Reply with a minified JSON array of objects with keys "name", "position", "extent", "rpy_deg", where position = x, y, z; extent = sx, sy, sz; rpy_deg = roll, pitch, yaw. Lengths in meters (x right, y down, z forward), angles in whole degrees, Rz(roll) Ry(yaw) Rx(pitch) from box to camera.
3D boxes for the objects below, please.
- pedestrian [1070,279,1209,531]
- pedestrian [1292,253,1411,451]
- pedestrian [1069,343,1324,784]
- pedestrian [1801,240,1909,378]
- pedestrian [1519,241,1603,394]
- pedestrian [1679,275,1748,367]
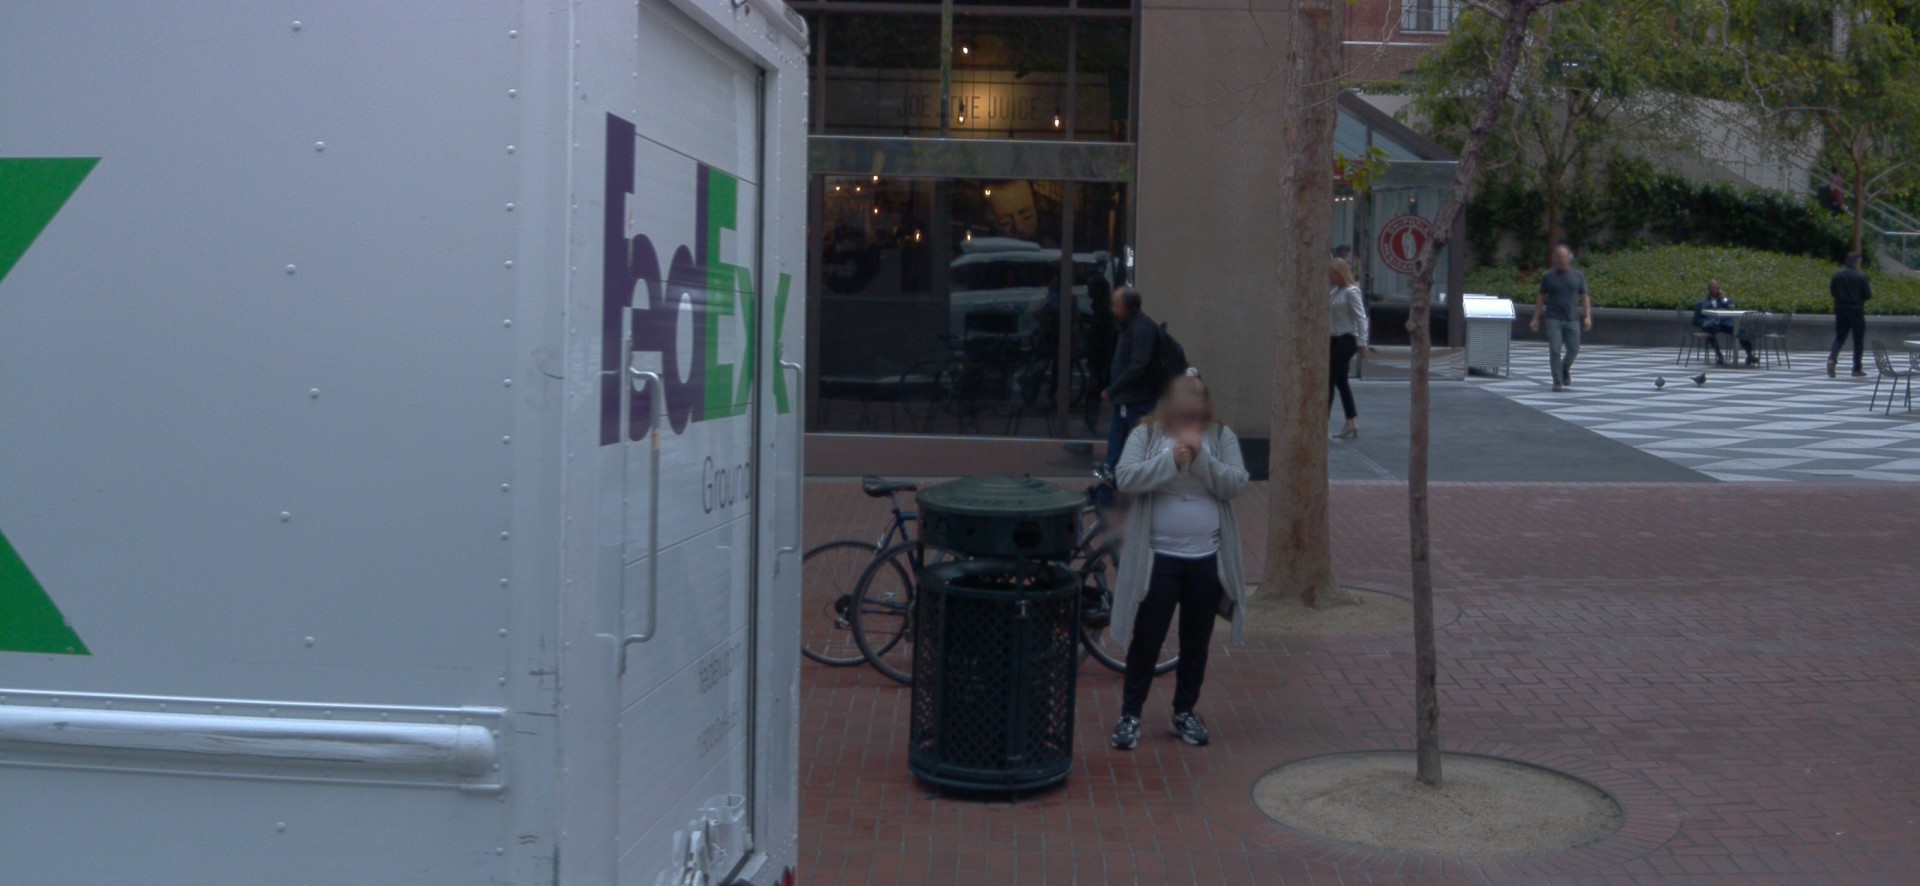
[{"name":"pedestrian","position":[1.293,-0.303,14.992],"extent":[0.894,1.761,0.753],"rpy_deg":[0,1,-5]},{"name":"pedestrian","position":[3.647,-0.871,19.316],"extent":[0.983,1.801,0.890],"rpy_deg":[0,1,3]},{"name":"pedestrian","position":[0.974,0.454,8.711],"extent":[0.907,1.701,0.915],"rpy_deg":[0,1,-5]},{"name":"pedestrian","position":[11.802,-1.787,27.216],"extent":[1.006,1.771,0.995],"rpy_deg":[-1,2,-44]},{"name":"pedestrian","position":[7.203,-1.532,24.783],"extent":[0.880,1.790,1.056],"rpy_deg":[0,1,11]},{"name":"pedestrian","position":[10.842,-1.765,29.719],"extent":[0.813,1.301,0.624],"rpy_deg":[0,1,7]}]
